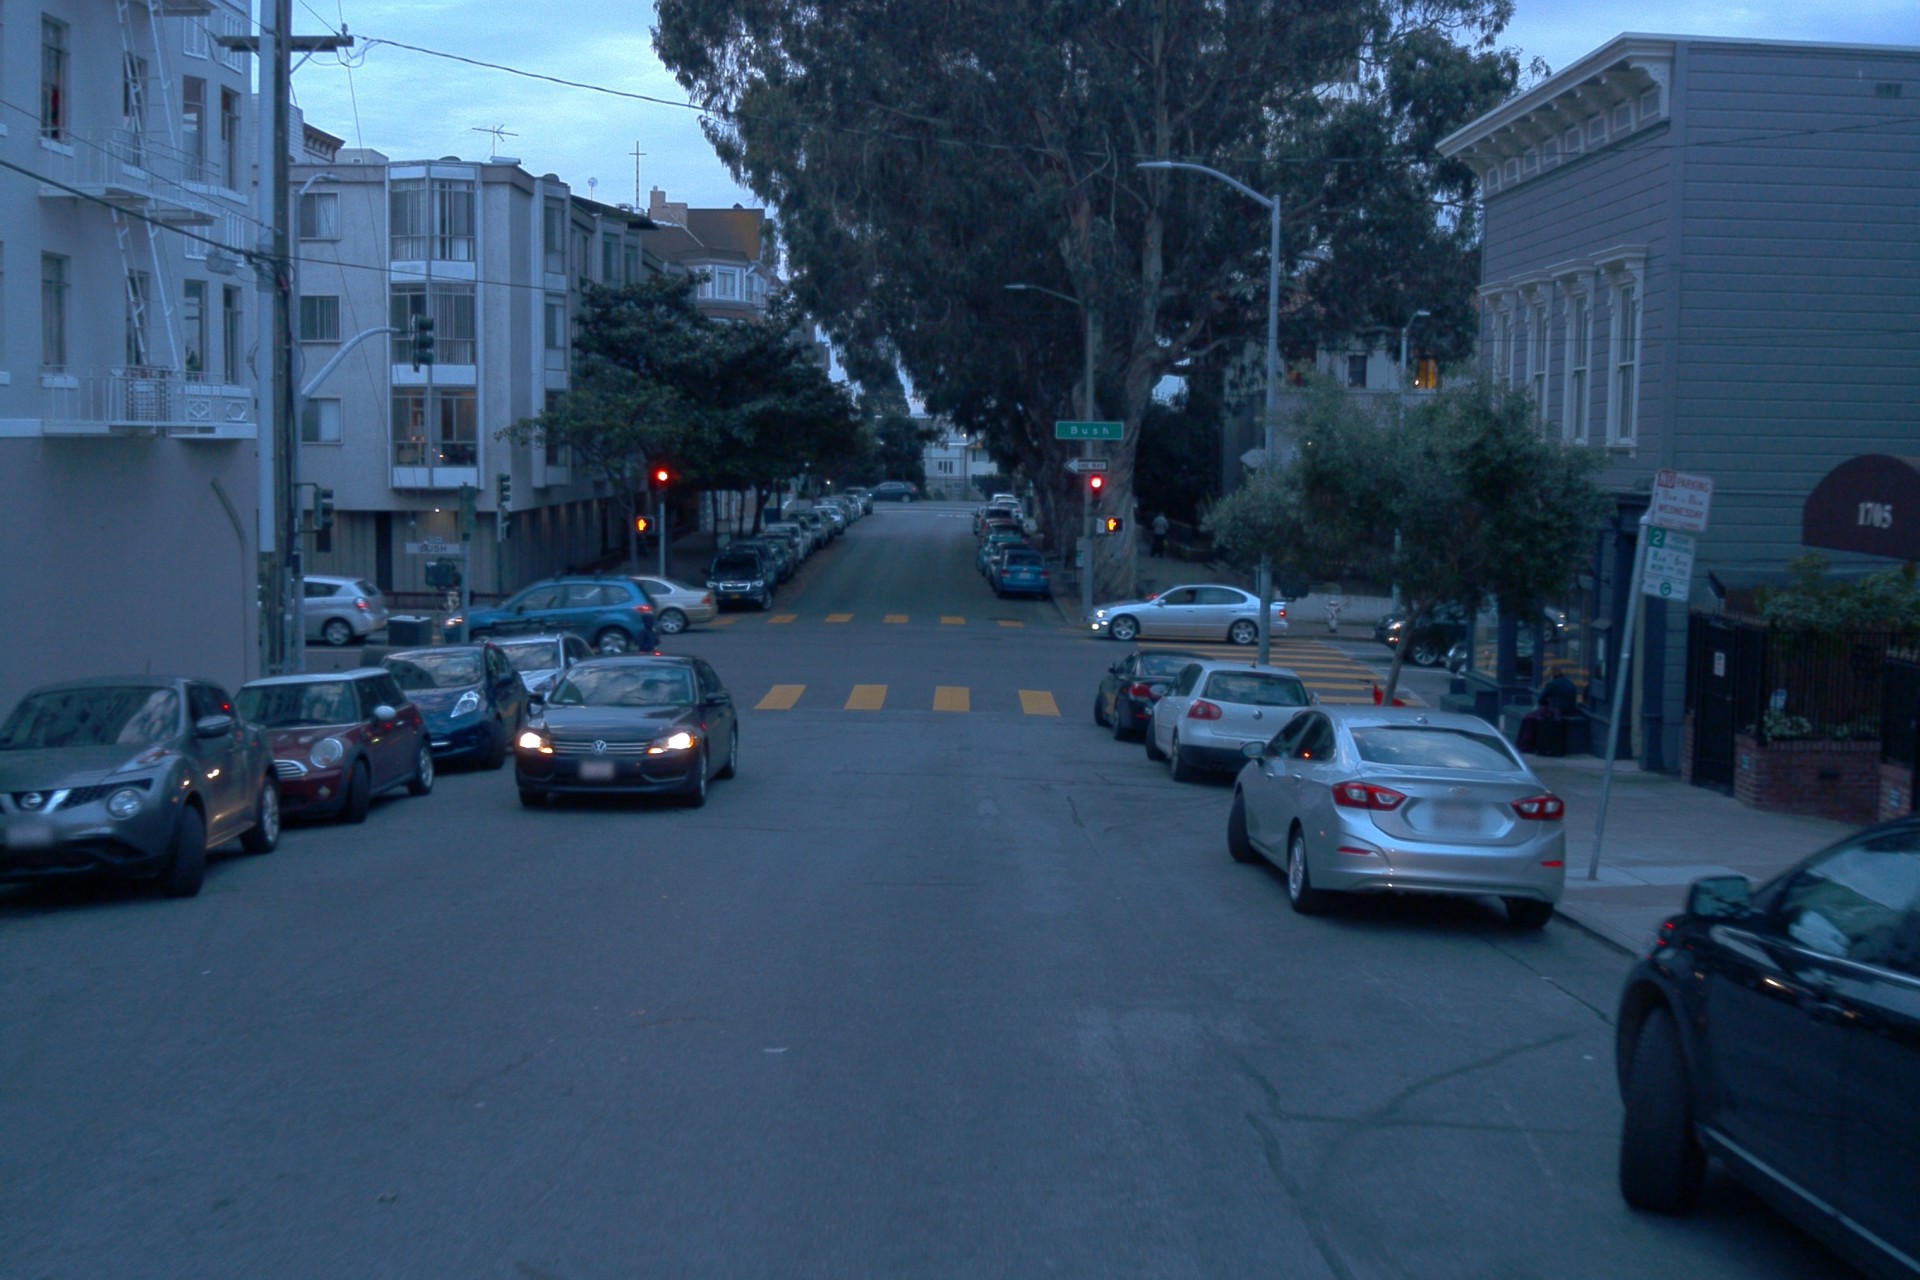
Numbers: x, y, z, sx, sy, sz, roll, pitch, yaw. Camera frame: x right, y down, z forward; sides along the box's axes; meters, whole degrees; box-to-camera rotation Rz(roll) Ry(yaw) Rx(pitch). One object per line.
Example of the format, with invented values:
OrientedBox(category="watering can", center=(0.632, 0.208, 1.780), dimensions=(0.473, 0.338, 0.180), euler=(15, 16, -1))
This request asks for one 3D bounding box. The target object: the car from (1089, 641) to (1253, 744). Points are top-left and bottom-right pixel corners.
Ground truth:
OrientedBox(category="car", center=(3.162, 0.756, 31.700), dimensions=(1.939, 1.380, 4.388), euler=(1, 1, -2))

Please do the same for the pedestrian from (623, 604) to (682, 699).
OrientedBox(category="pedestrian", center=(-5.467, 0.198, 36.573), dimensions=(0.833, 1.650, 0.730), euler=(1, 1, 8))

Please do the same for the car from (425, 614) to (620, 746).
OrientedBox(category="car", center=(-6.422, 0.528, 30.674), dimensions=(1.910, 1.790, 4.265), euler=(1, 1, 1))

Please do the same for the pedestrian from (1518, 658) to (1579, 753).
OrientedBox(category="pedestrian", center=(8.284, 0.908, 28.978), dimensions=(0.777, 1.290, 0.721), euler=(1, 1, 15))

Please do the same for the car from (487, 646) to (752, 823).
OrientedBox(category="car", center=(-3.401, 0.883, 21.456), dimensions=(2.053, 1.520, 4.712), euler=(1, 1, -1))

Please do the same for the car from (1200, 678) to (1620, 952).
OrientedBox(category="car", center=(3.206, 1.187, 15.709), dimensions=(2.012, 1.600, 4.607), euler=(1, 1, -2))

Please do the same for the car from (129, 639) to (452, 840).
OrientedBox(category="car", center=(-6.382, 0.880, 20.030), dimensions=(1.900, 1.680, 3.706), euler=(1, 1, 0))

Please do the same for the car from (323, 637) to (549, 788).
OrientedBox(category="car", center=(-6.430, 0.836, 25.676), dimensions=(2.016, 1.640, 4.166), euler=(1, 1, -4))

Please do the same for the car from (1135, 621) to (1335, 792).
OrientedBox(category="car", center=(3.371, 0.752, 25.940), dimensions=(1.899, 1.930, 4.018), euler=(1, 1, -1))
